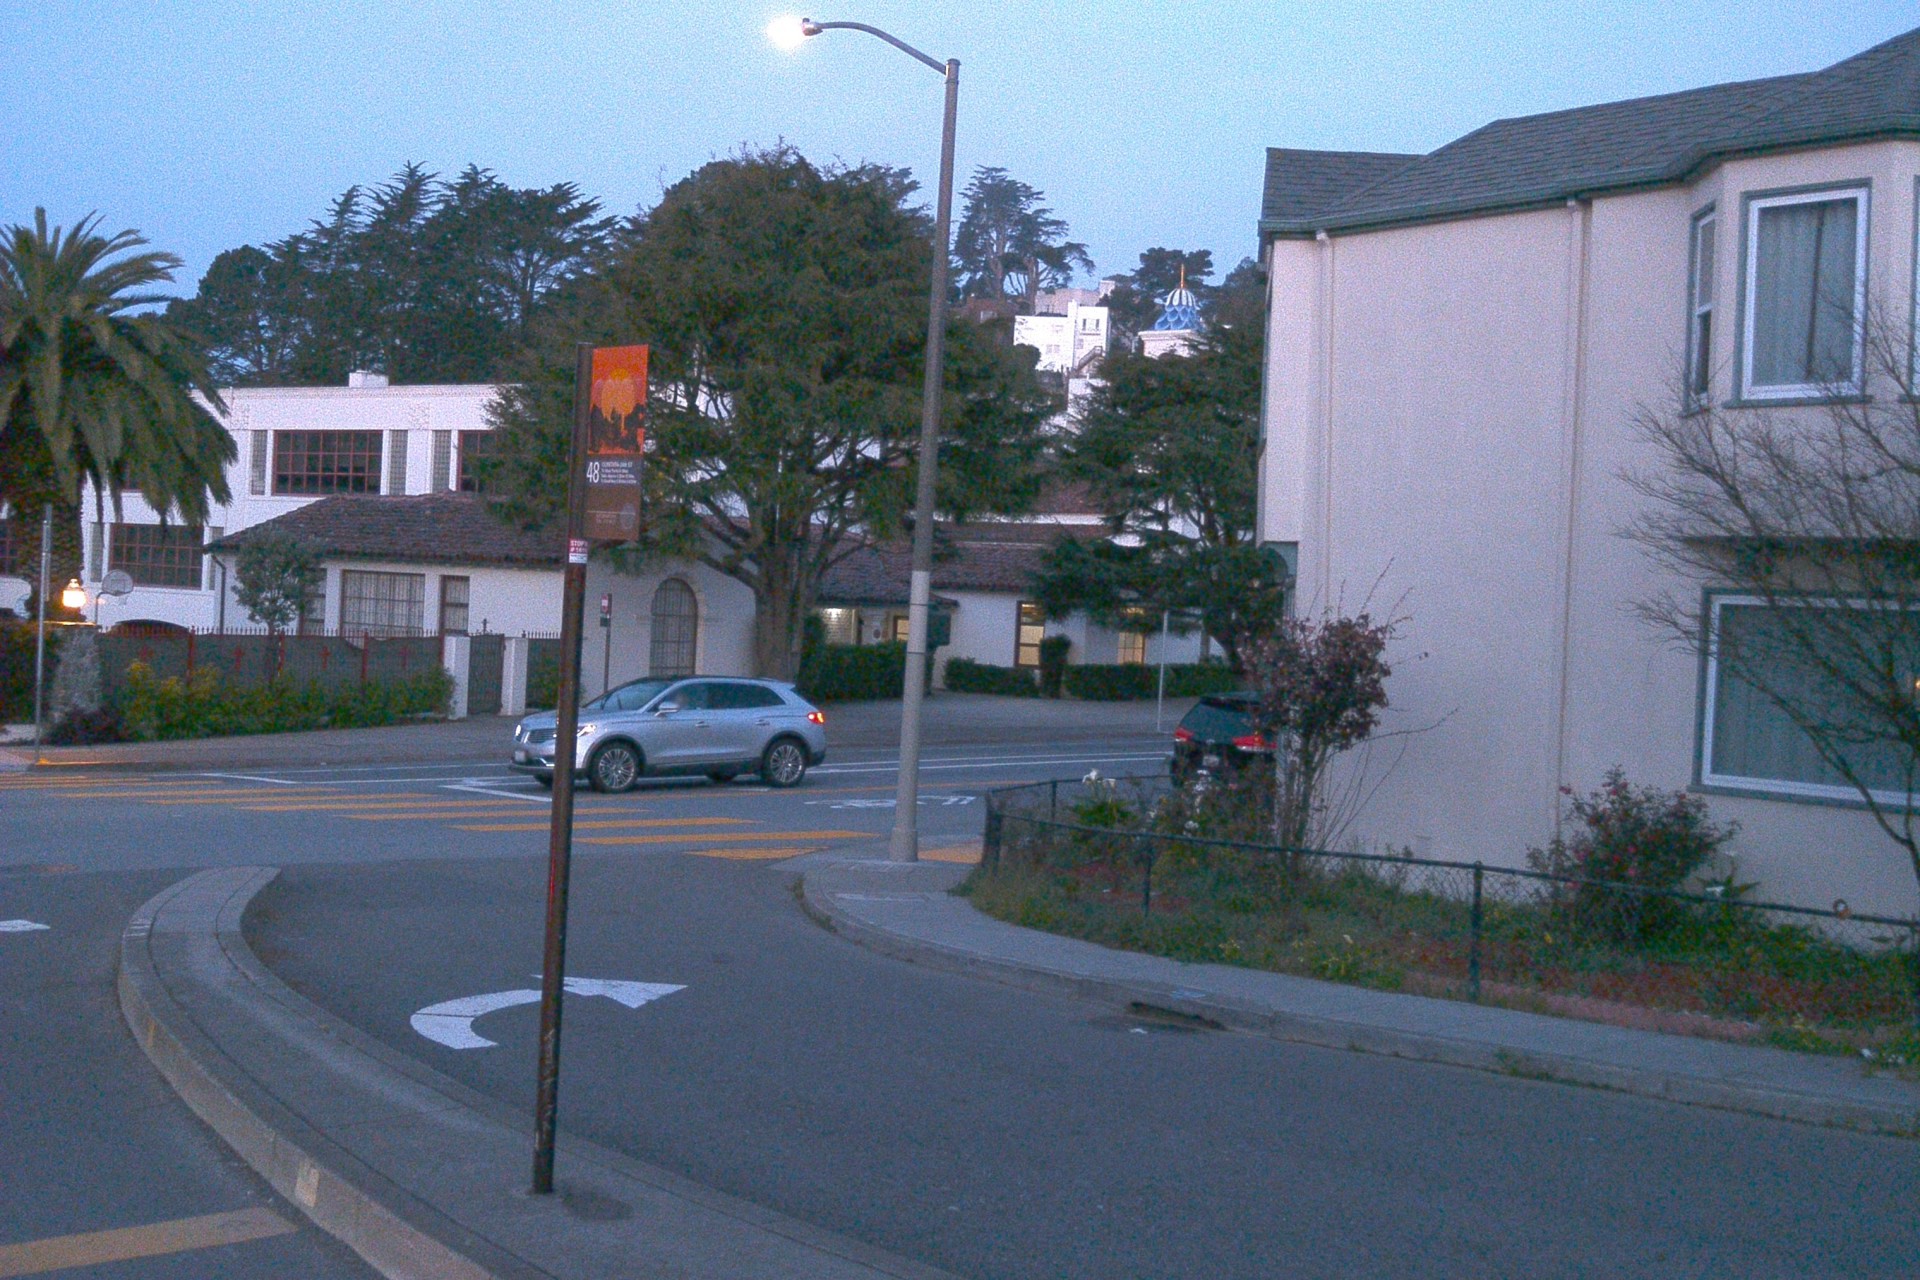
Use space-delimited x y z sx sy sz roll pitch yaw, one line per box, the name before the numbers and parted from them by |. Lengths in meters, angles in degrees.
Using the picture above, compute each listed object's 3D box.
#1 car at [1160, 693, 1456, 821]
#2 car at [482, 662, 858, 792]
car | 5.027 1.629 30.201 3.819 1.660 2.058 1 0 -34
car | -4.179 1.204 30.665 5.027 1.730 2.150 1 0 -39
